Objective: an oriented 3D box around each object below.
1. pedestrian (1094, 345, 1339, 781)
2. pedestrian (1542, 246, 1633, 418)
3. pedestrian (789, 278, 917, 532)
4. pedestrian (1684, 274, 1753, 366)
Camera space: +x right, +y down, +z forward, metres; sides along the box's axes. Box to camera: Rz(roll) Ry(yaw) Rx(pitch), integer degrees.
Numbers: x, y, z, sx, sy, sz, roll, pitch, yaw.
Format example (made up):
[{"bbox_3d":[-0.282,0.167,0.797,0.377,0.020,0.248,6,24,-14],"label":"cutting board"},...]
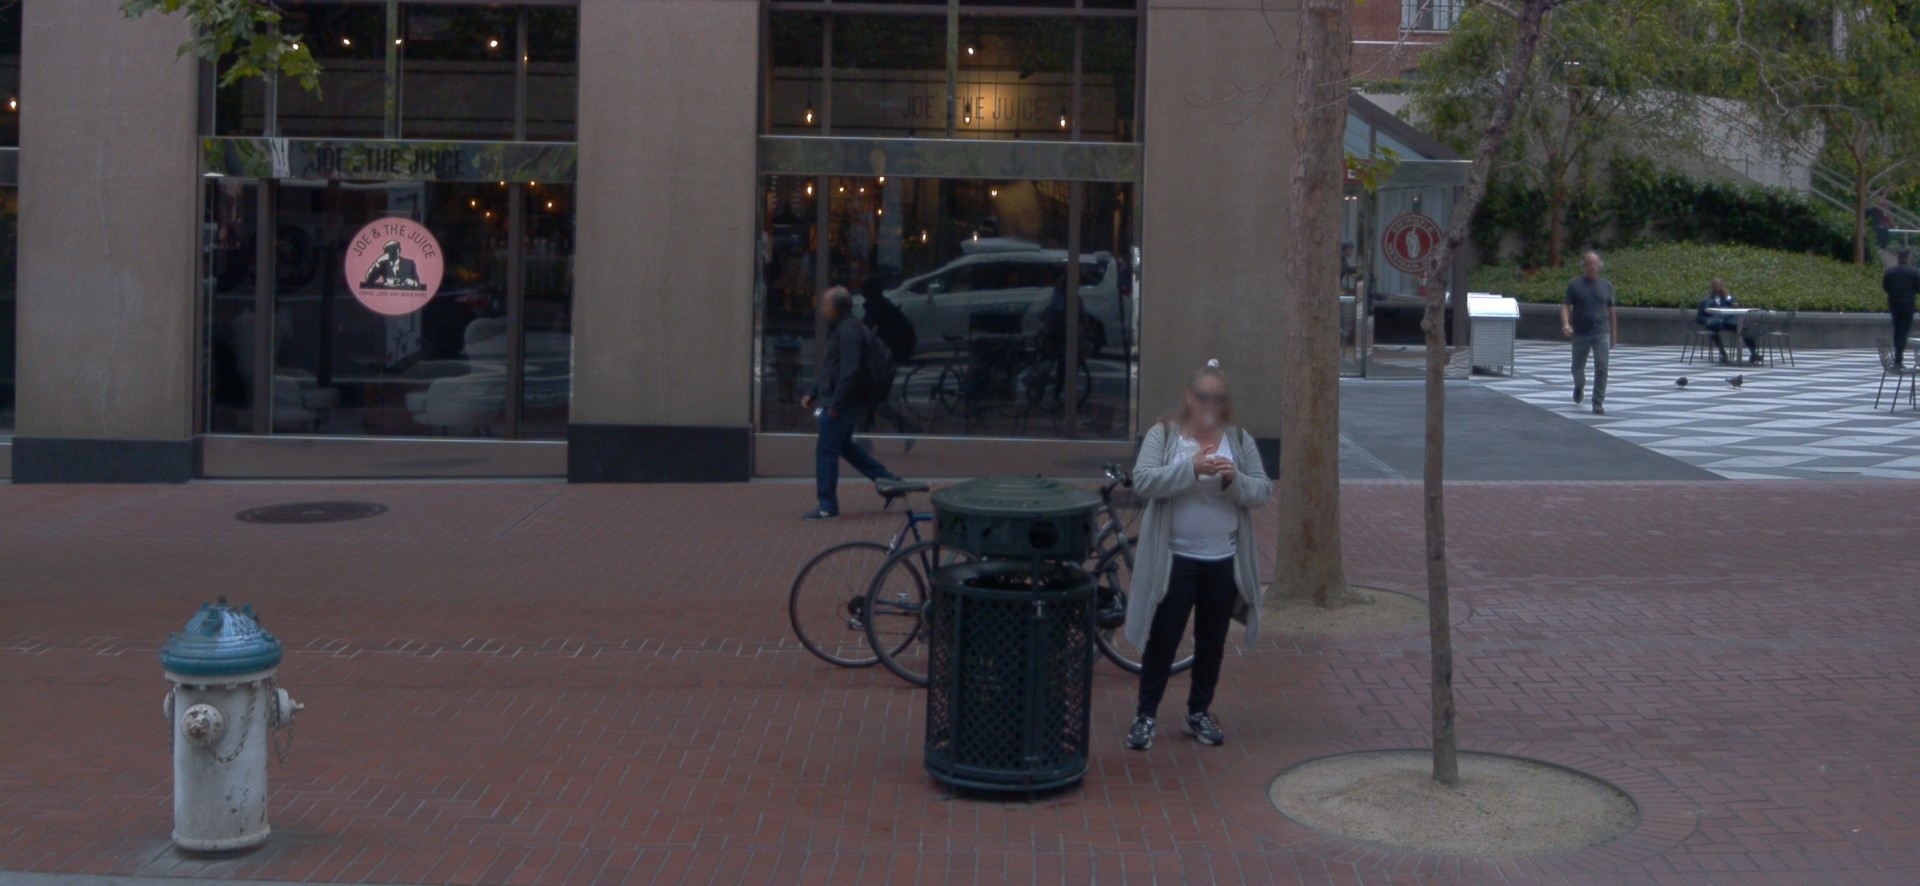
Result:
[{"bbox_3d":[1.063,0.460,8.754,0.906,1.701,0.916,0,1,-2],"label":"pedestrian"},{"bbox_3d":[6.737,-1.222,22.201,0.880,1.790,1.056,0,1,14],"label":"pedestrian"},{"bbox_3d":[-0.774,-0.298,14.804,0.894,1.761,0.753,0,1,-4],"label":"pedestrian"},{"bbox_3d":[10.914,-1.776,29.722,0.813,1.301,0.624,0,1,7],"label":"pedestrian"}]
